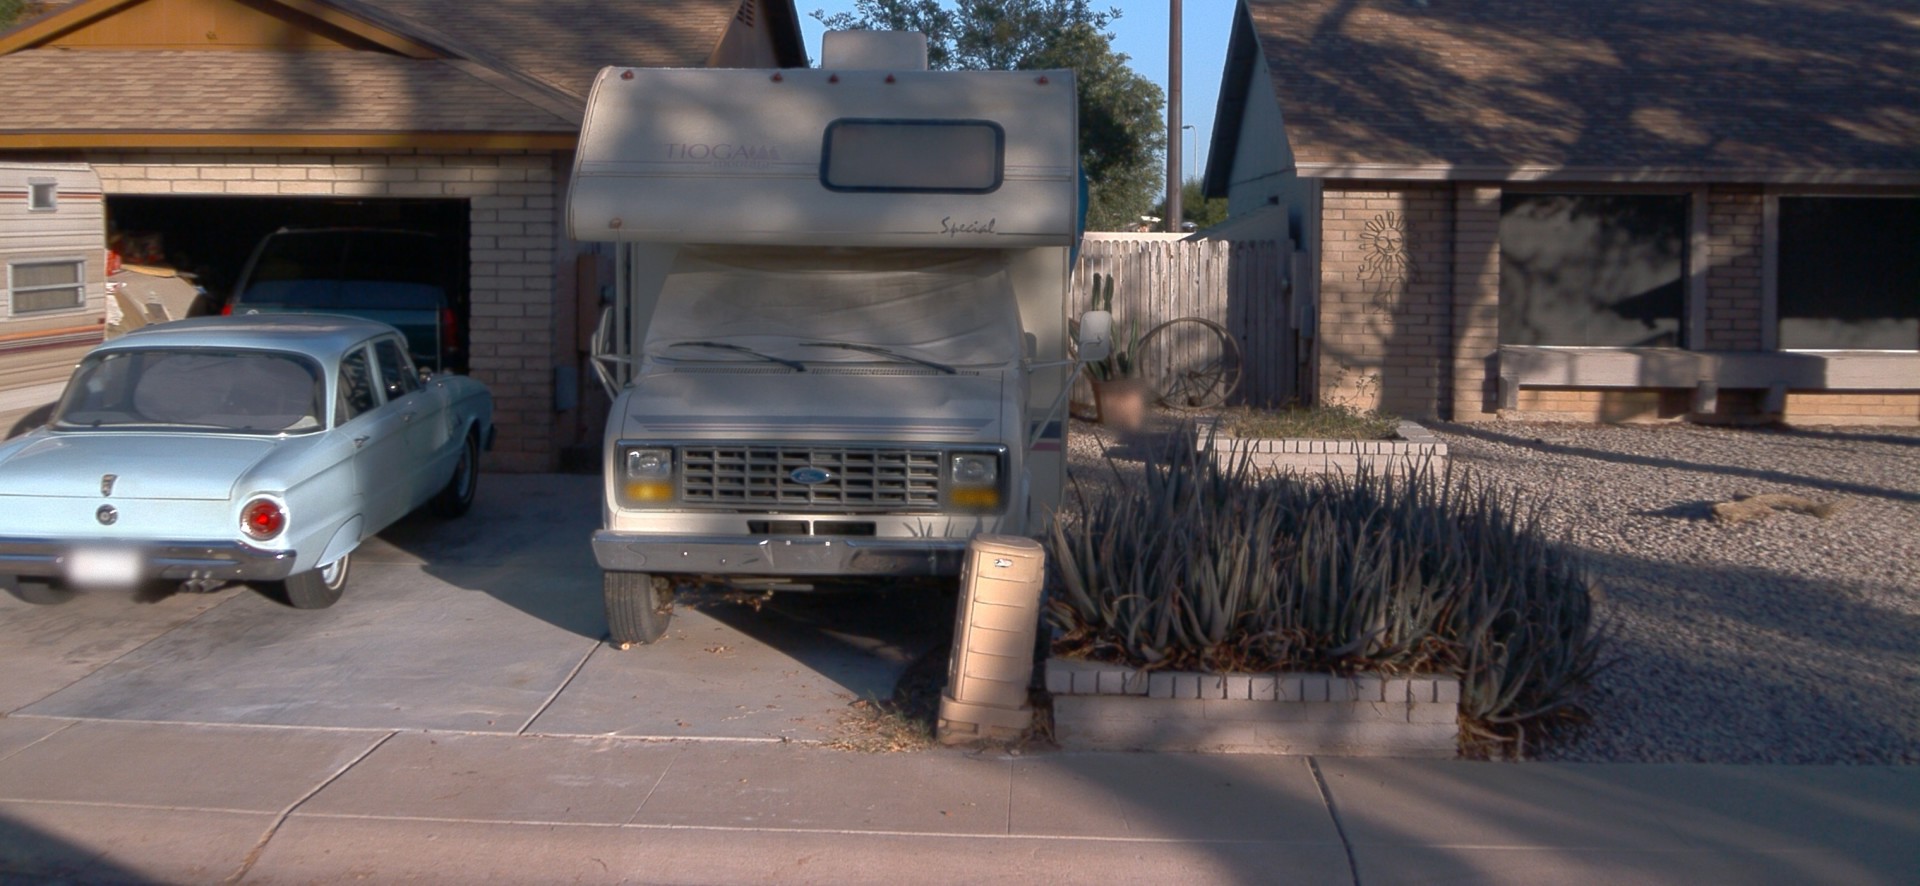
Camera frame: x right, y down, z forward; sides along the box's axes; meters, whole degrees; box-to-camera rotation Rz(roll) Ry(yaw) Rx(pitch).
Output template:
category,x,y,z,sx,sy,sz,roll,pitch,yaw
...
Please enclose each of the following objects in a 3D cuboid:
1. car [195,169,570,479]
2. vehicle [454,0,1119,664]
category,x,y,z,sx,sy,sz,roll,pitch,yaw
car,-4.876,-1.169,18.161,1.956,2.350,4.594,1,5,0
vehicle,-0.699,-1.045,12.837,2.984,3.265,6.914,1,5,1
